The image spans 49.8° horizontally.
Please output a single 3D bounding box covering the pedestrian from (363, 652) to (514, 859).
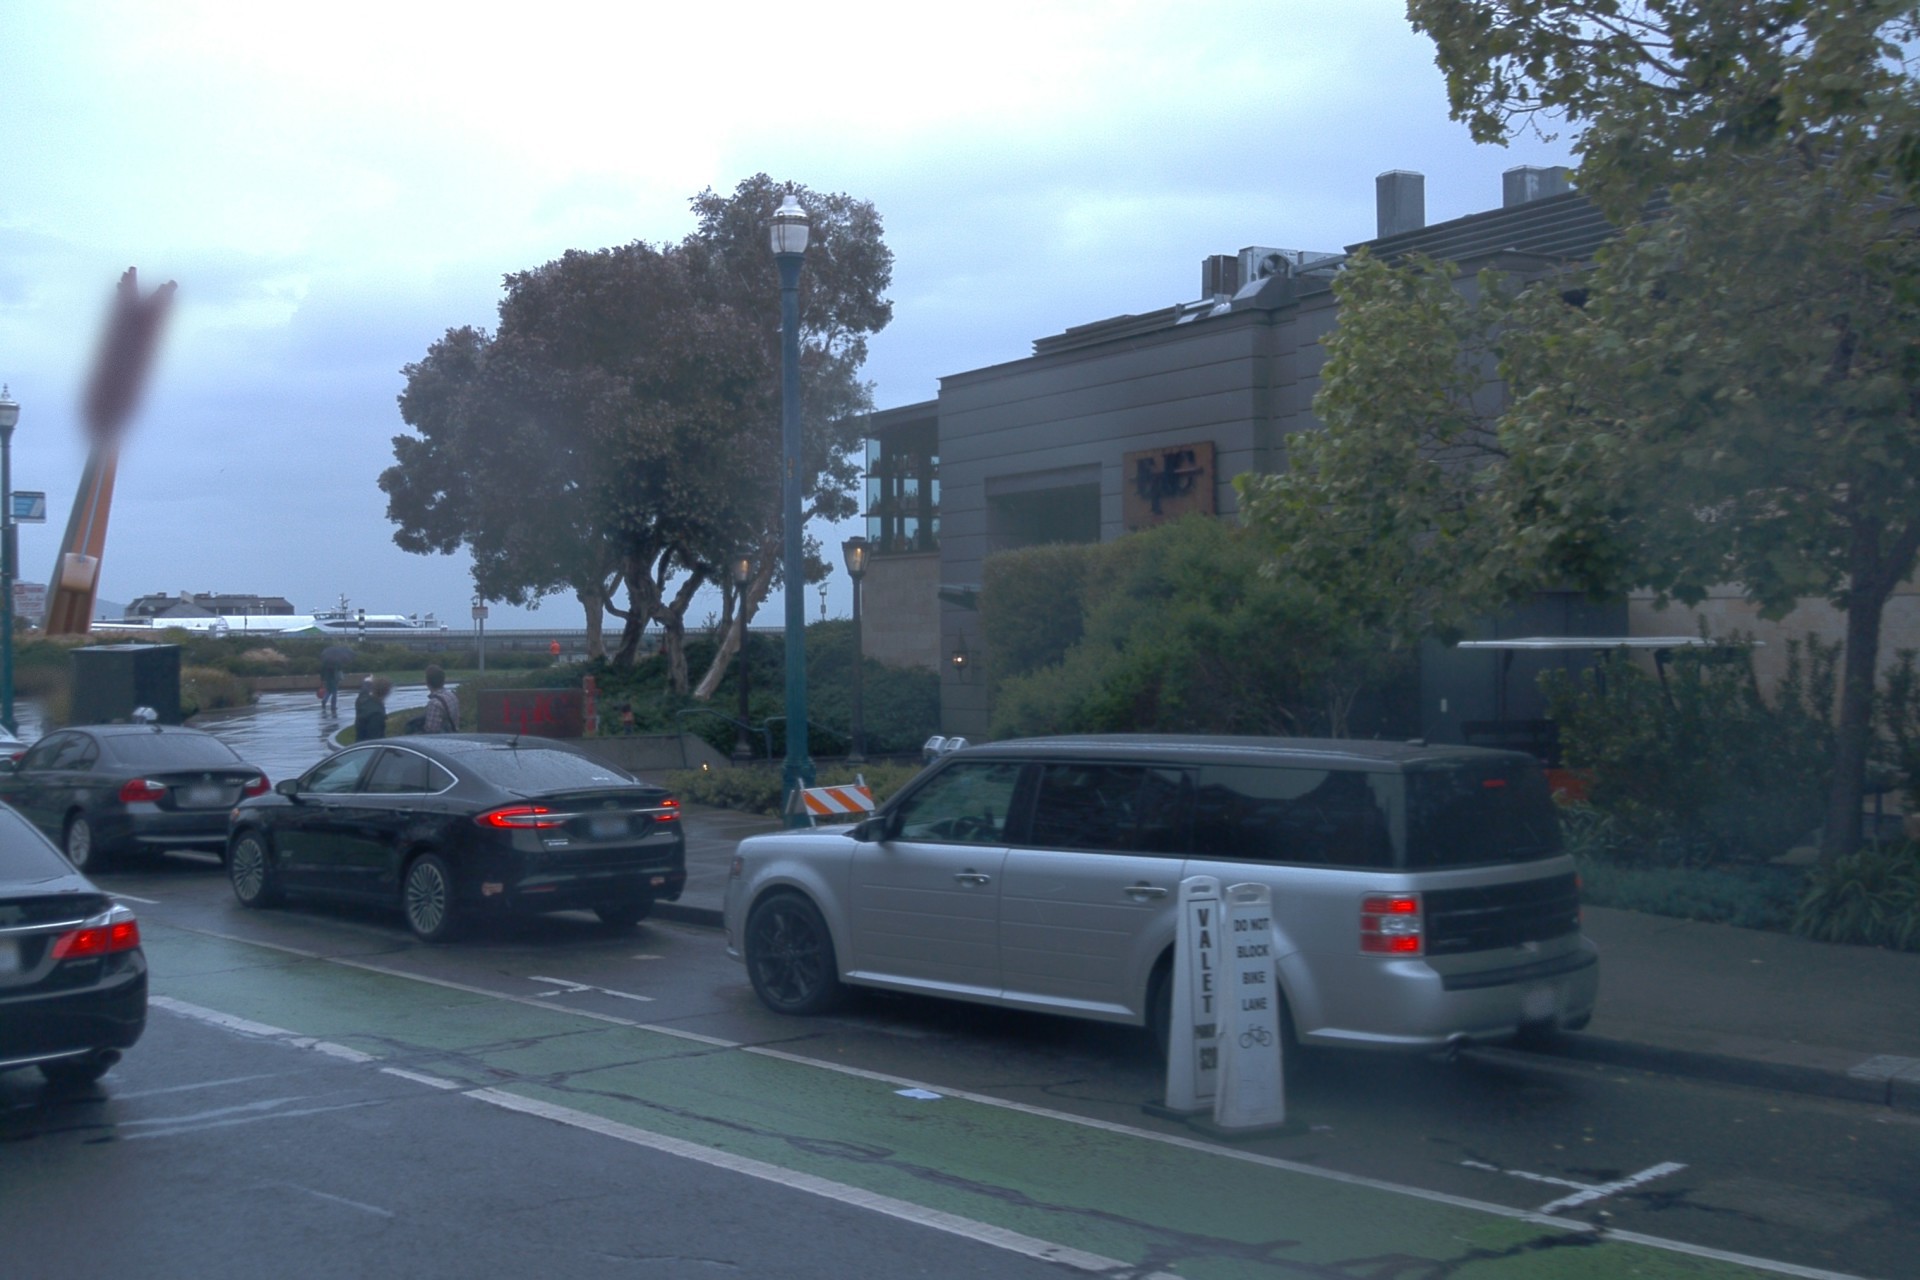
[{"bbox_3d":[-5.377,1.156,21.344,1.153,2.050,1.064,1,-1,-38],"label":"pedestrian"}]

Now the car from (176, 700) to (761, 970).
[{"bbox_3d":[-4.048,1.388,16.527,4.866,1.710,2.313,0,-1,45],"label":"car"}]

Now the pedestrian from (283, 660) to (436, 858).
[{"bbox_3d":[-6.149,1.184,21.172,1.046,1.939,1.272,1,-1,-41],"label":"pedestrian"}]

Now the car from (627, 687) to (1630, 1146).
[{"bbox_3d":[0.706,1.252,11.610,5.327,1.890,2.314,0,-1,44],"label":"car"}]
